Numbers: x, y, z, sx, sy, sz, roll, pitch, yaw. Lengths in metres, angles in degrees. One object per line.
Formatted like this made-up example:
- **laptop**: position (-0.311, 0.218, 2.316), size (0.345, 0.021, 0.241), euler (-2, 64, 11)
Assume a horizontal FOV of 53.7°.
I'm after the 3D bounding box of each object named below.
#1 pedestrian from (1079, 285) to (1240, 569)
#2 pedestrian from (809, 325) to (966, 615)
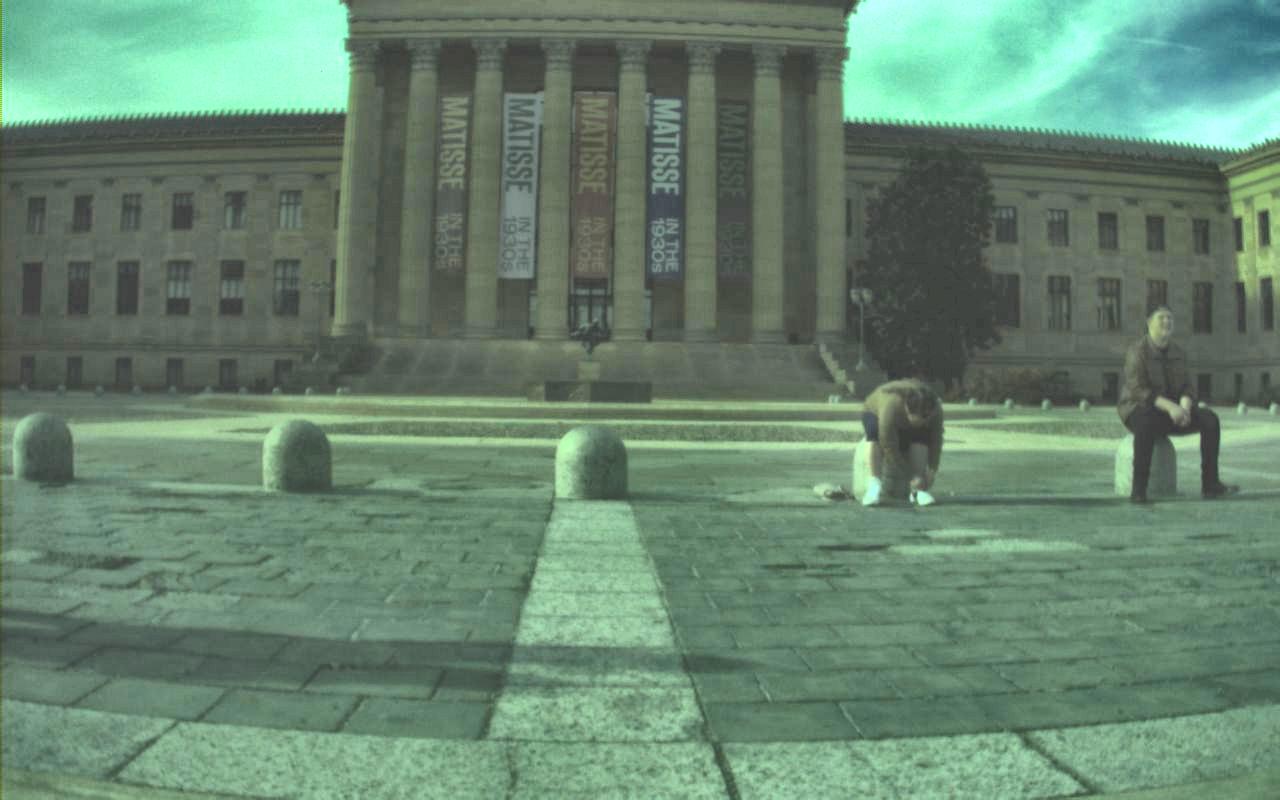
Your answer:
- **pedestrian**: position (3.506, 0.181, 7.918), size (0.834, 1.802, 0.836), euler (0, 0, -3)
- **pedestrian**: position (1.562, 0.408, 7.703), size (0.843, 1.705, 0.861), euler (1, 0, 19)
